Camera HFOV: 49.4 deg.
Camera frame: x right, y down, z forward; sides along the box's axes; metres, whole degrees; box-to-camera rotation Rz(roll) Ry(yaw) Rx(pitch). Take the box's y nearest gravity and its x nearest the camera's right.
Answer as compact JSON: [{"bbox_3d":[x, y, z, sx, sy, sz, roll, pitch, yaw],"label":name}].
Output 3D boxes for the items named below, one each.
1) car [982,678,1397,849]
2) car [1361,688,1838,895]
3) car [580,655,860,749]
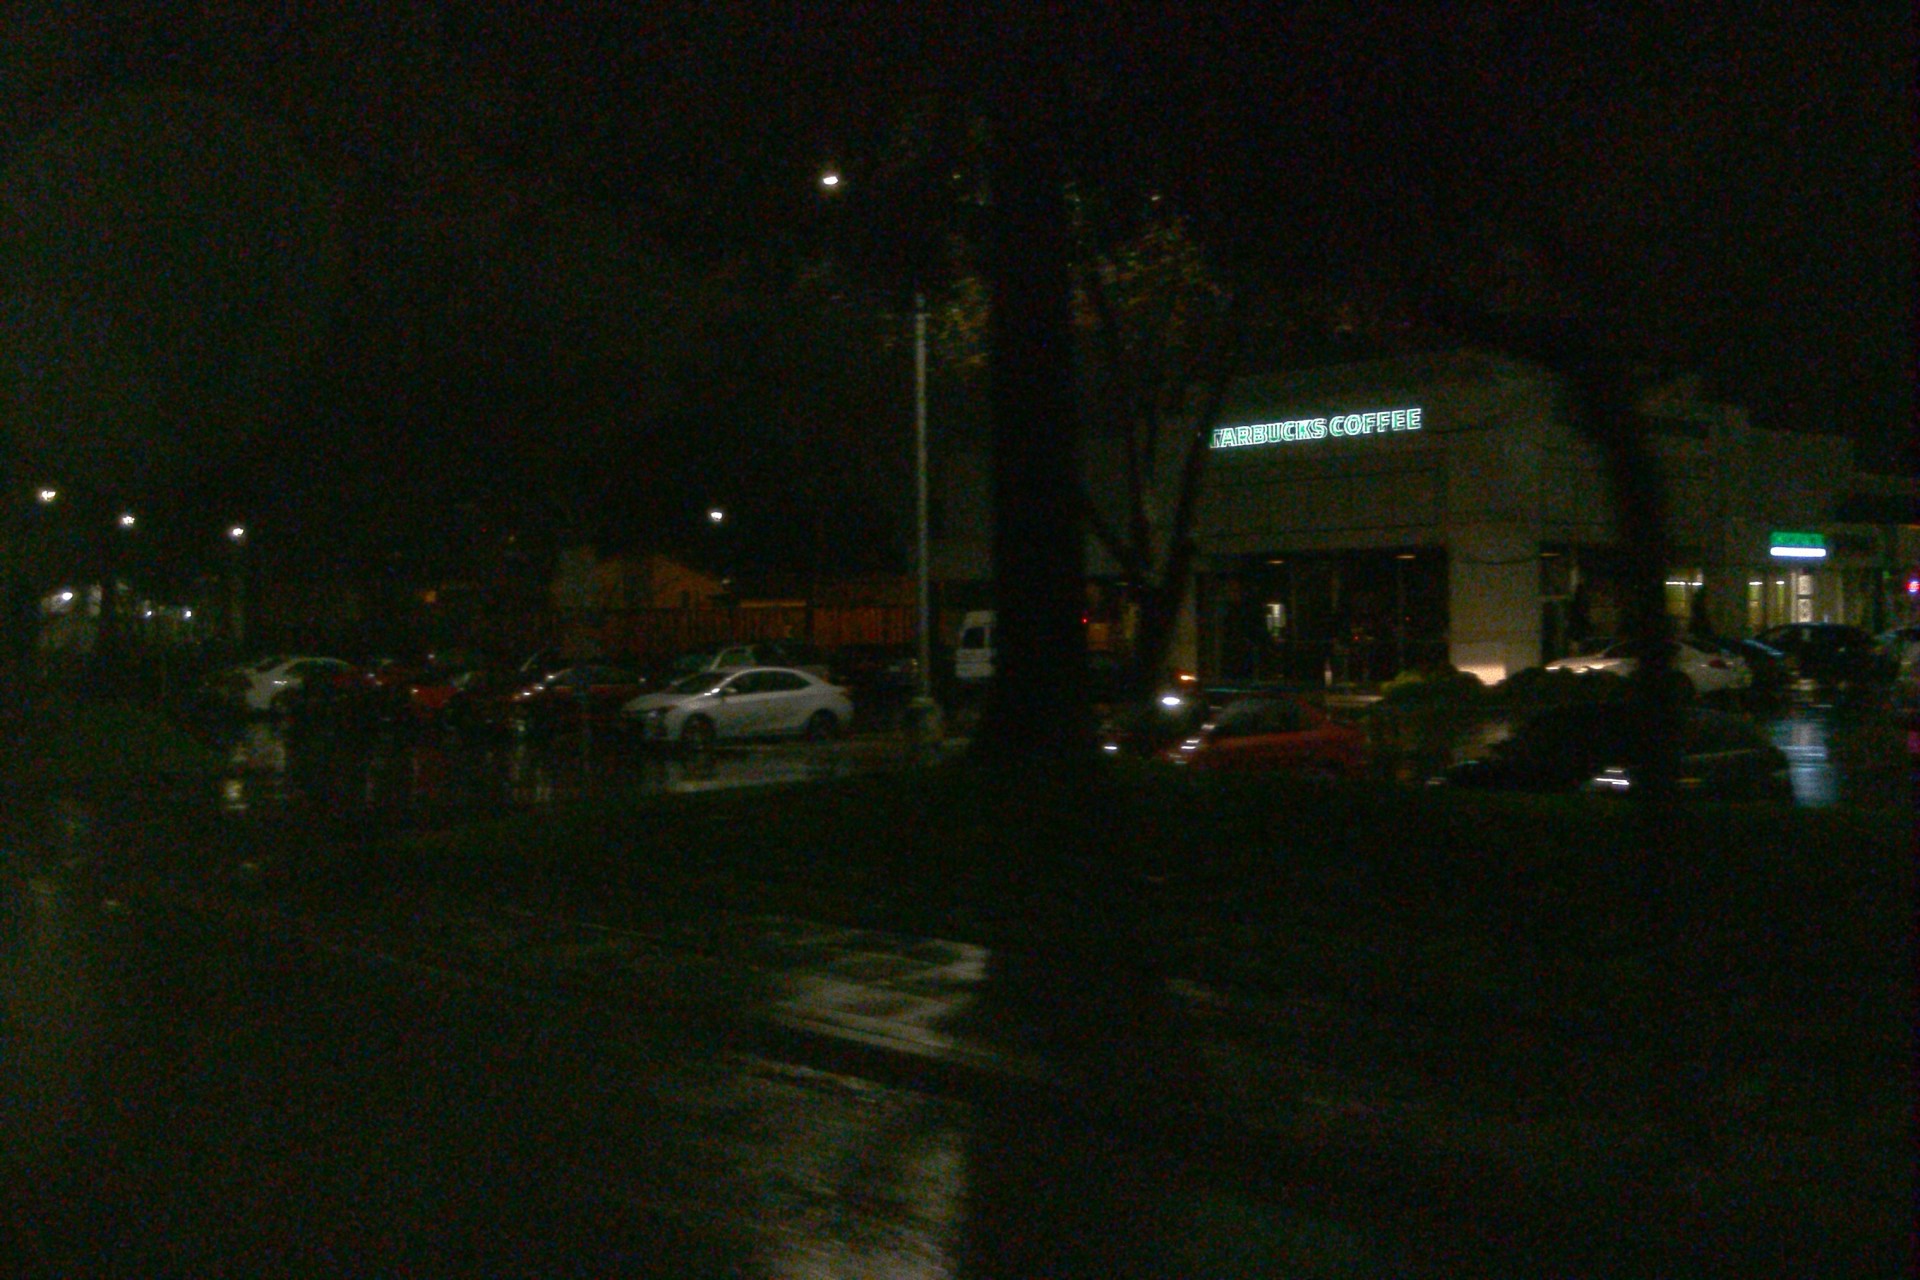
[{"bbox_3d":[2.585,1.279,22.729,4.551,1.630,2.037,2,-1,-44],"label":"car"},{"bbox_3d":[5.953,1.286,19.099,4.701,1.600,2.167,2,-1,-45],"label":"car"},{"bbox_3d":[-4.266,1.110,37.498,4.575,1.570,2.131,2,-1,-42],"label":"car"}]
